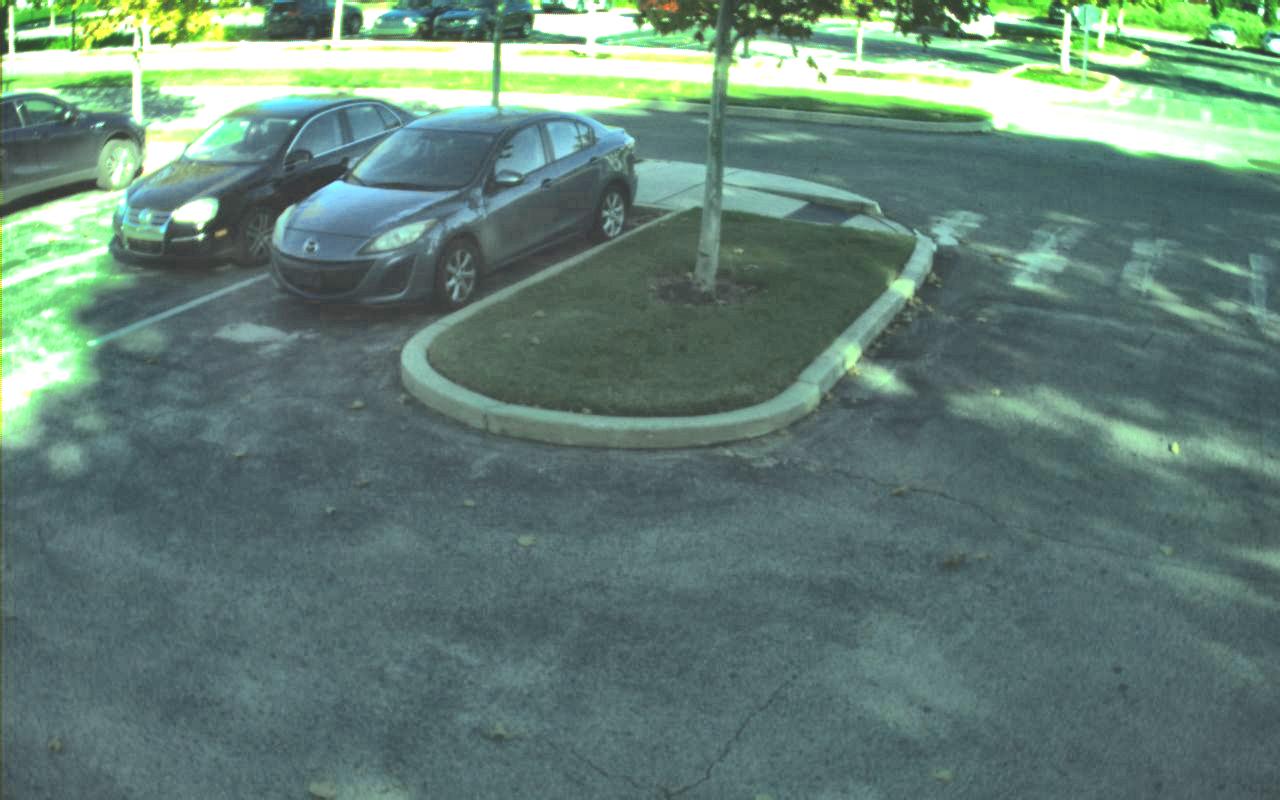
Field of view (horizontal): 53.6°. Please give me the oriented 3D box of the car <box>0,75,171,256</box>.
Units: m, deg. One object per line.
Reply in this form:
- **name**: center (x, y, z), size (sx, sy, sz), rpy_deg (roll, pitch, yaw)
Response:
- **car**: center (-8.493, -3.184, 14.781), size (1.976, 1.697, 4.653), rpy_deg (6, 18, 22)

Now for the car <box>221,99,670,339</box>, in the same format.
- **car**: center (-1.601, -1.888, 11.557), size (1.905, 1.505, 4.468), rpy_deg (8, 19, 28)

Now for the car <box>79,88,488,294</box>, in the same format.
- **car**: center (-3.746, -2.401, 13.056), size (1.931, 1.551, 4.465), rpy_deg (8, 19, 29)
